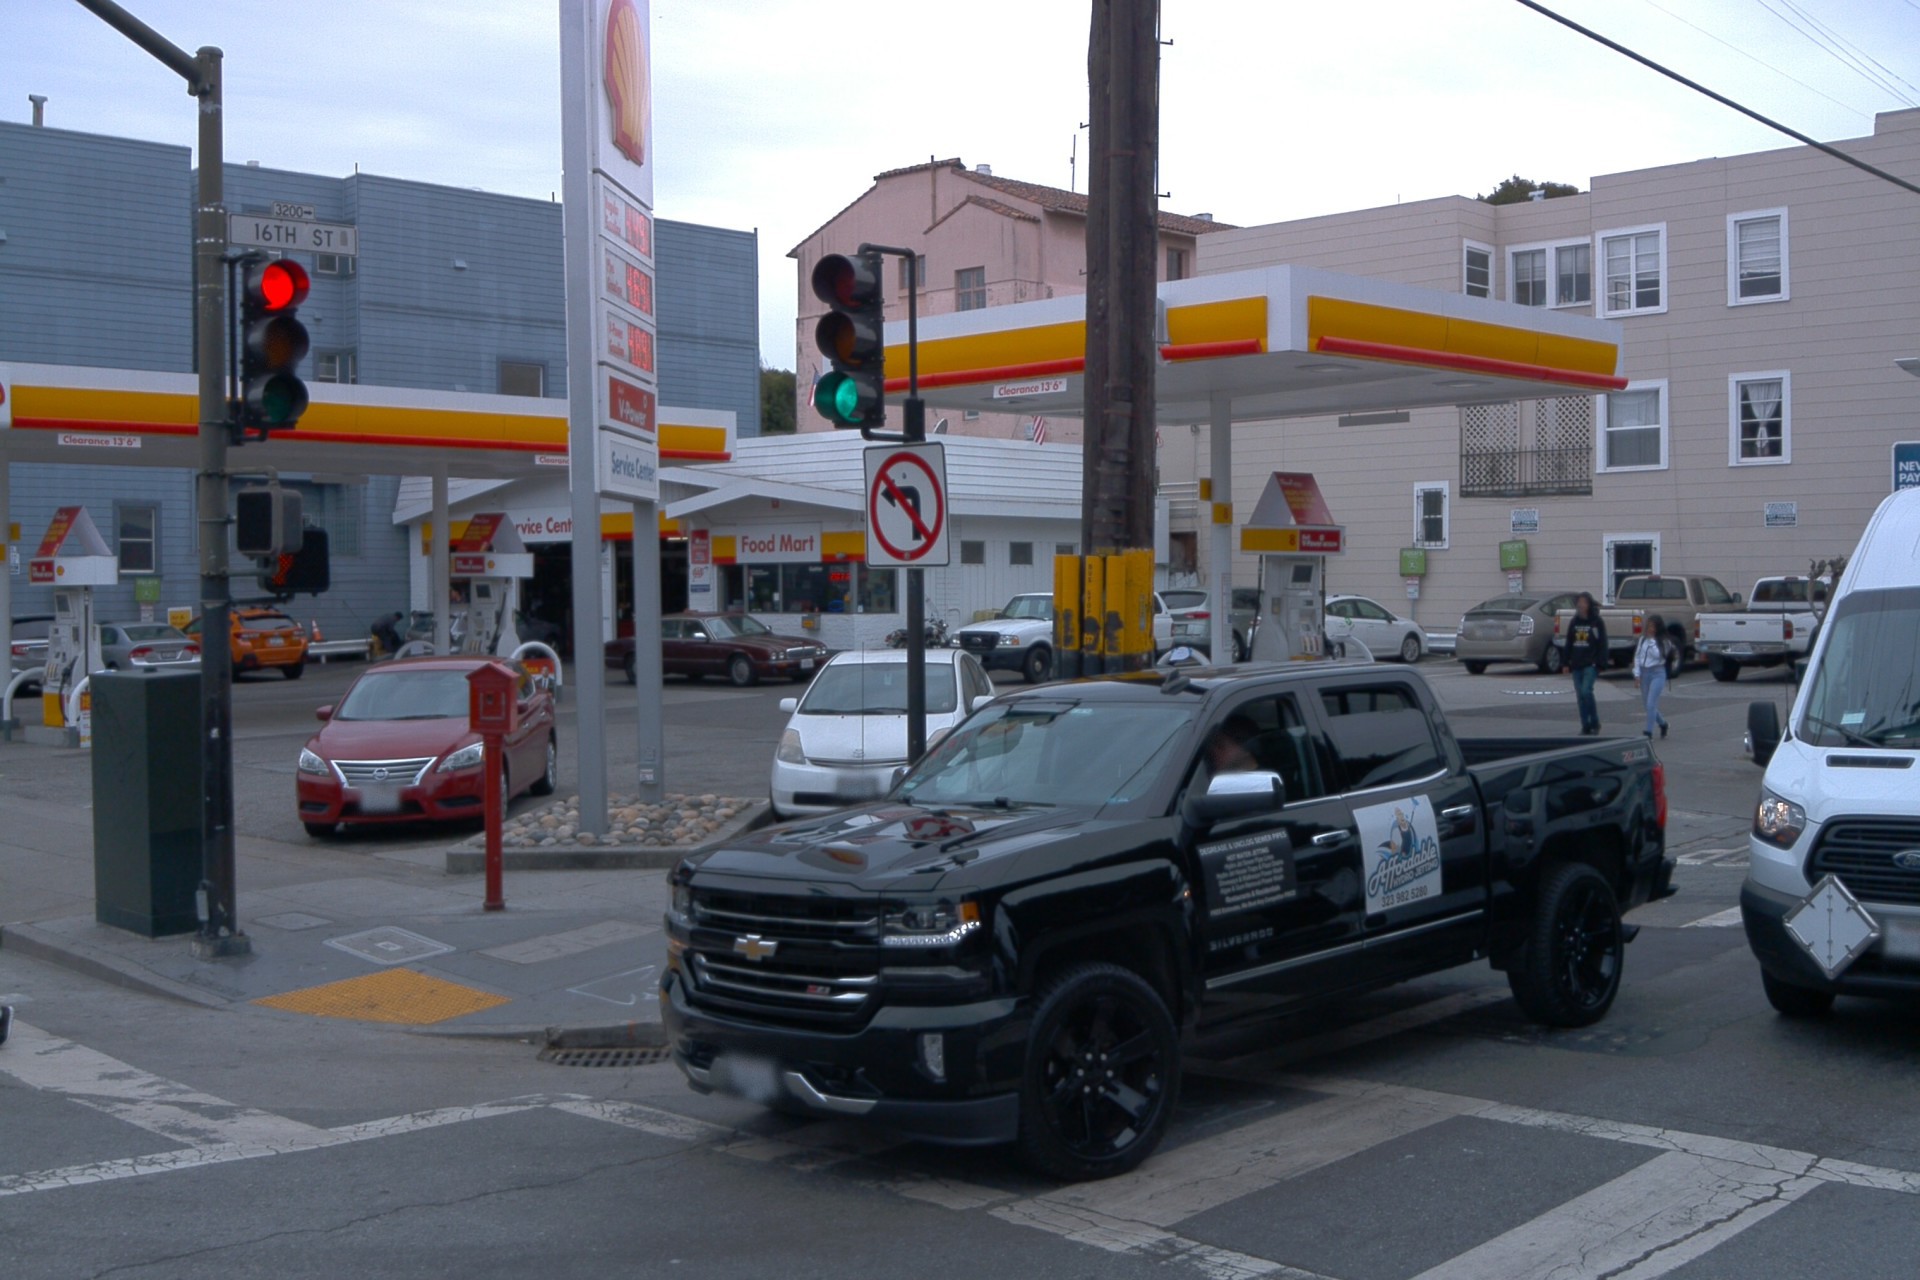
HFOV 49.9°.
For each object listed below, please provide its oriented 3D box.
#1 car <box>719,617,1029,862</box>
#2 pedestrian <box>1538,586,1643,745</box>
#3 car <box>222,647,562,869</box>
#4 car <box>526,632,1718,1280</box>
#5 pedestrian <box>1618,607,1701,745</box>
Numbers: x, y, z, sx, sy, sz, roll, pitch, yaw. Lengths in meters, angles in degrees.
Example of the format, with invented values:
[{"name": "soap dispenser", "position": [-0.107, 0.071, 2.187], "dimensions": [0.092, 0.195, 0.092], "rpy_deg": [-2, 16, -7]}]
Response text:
[{"name": "car", "position": [-0.623, 0.768, 18.876], "dimensions": [2.093, 1.930, 4.523], "rpy_deg": [0, 1, 7]}, {"name": "pedestrian", "position": [7.510, 0.284, 24.588], "dimensions": [0.878, 1.843, 0.913], "rpy_deg": [1, 1, 42]}, {"name": "car", "position": [-5.112, 0.975, 19.283], "dimensions": [2.007, 1.720, 4.677], "rpy_deg": [0, 1, -2]}, {"name": "car", "position": [1.128, 1.016, 9.587], "dimensions": [2.320, 2.022, 5.852], "rpy_deg": [1, 1, 44]}, {"name": "pedestrian", "position": [8.237, 0.405, 24.299], "dimensions": [0.643, 1.590, 0.793], "rpy_deg": [1, 1, 42]}]
